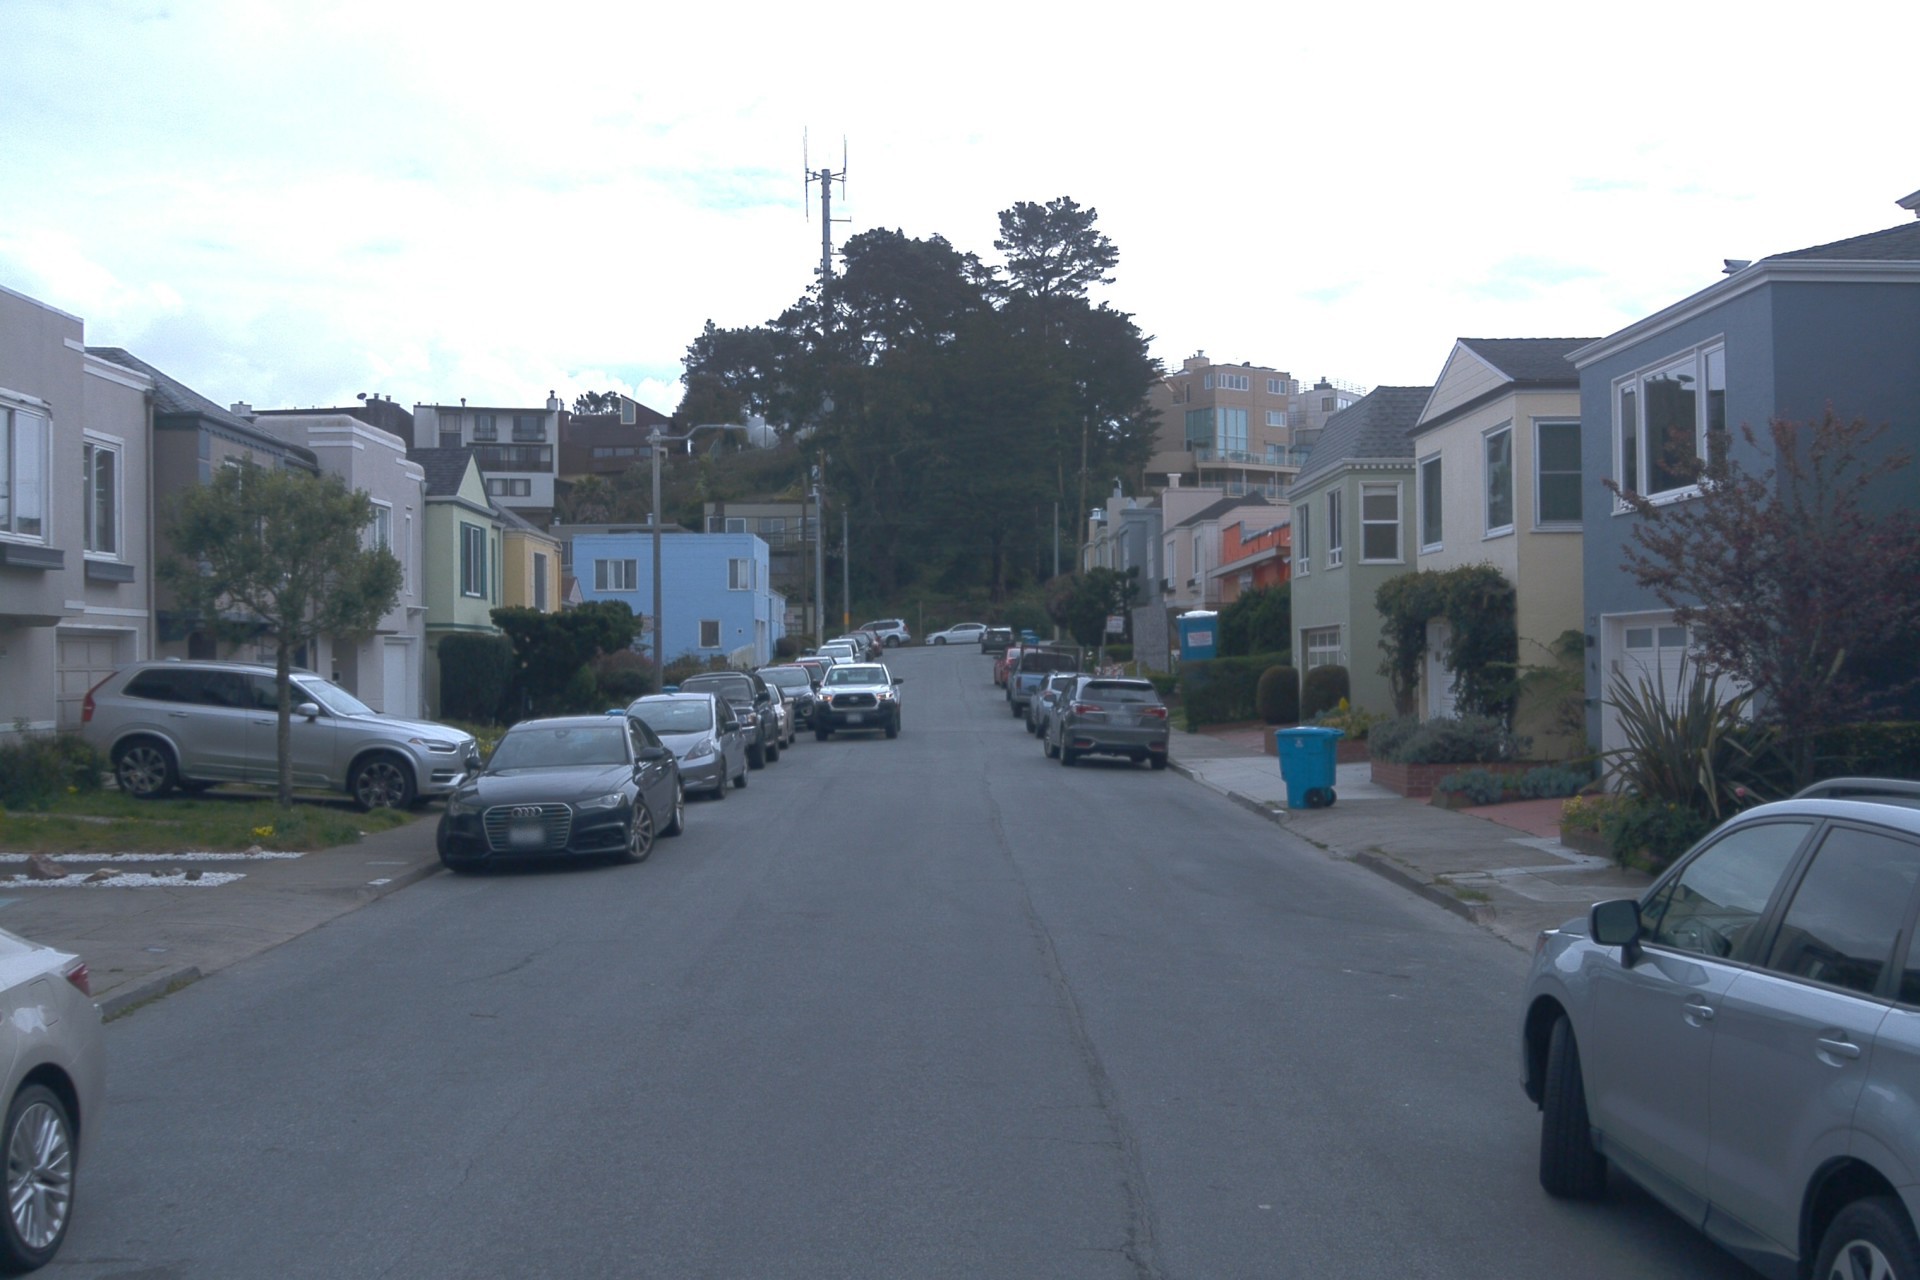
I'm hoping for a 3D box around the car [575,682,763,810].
[{"bbox_3d":[-4.148,1.479,30.153,2.058,1.660,4.209,0,0,1],"label":"car"}]

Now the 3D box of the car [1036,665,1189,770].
[{"bbox_3d":[2.707,1.364,37.847,2.218,1.770,4.506,0,0,-3],"label":"car"}]

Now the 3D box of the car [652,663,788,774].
[{"bbox_3d":[-4.329,1.379,37.991,2.004,1.880,4.677,0,0,-1],"label":"car"}]

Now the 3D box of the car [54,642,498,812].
[{"bbox_3d":[-8.615,1.073,26.421,4.989,2.070,2.050,0,0,0],"label":"car"}]

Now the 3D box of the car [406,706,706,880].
[{"bbox_3d":[-4.075,1.508,21.806,2.204,1.490,4.921,0,0,0],"label":"car"}]
